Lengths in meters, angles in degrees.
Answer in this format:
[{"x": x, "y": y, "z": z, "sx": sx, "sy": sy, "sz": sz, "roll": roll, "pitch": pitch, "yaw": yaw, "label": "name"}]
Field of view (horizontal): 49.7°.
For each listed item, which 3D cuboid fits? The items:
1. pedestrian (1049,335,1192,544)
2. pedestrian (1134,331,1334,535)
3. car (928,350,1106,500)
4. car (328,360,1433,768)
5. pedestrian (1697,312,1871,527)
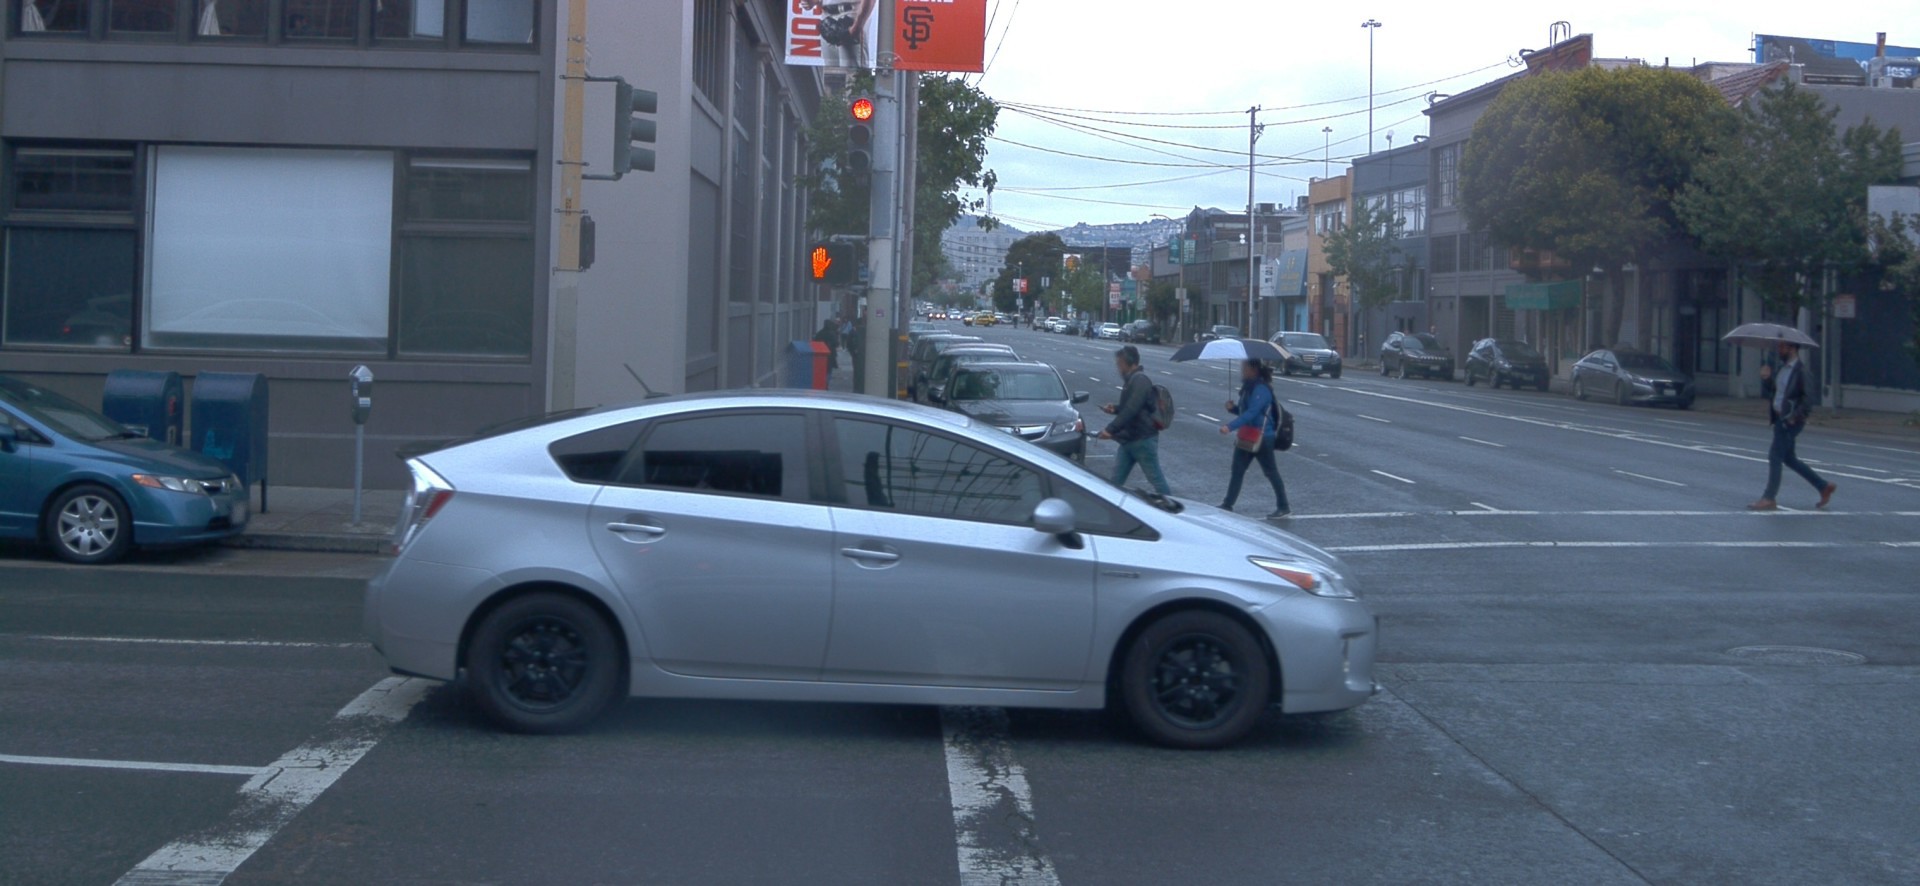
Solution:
[{"x": 1.475, "y": -0.058, "z": 19.232, "sx": 1.131, "sy": 1.819, "sz": 1.032, "roll": 0, "pitch": 2, "yaw": -7, "label": "pedestrian"}, {"x": 2.650, "y": -0.142, "z": 20.262, "sx": 1.573, "sy": 1.829, "sz": 1.364, "roll": 0, "pitch": 2, "yaw": -12, "label": "pedestrian"}, {"x": 0.621, "y": -0.306, "z": 26.065, "sx": 2.020, "sy": 1.454, "sz": 4.437, "roll": 0, "pitch": 5, "yaw": -1, "label": "car"}, {"x": -0.344, "y": 0.455, "z": 9.652, "sx": 4.613, "sy": 1.557, "sz": 1.968, "roll": 0, "pitch": 4, "yaw": -3, "label": "car"}, {"x": 8.394, "y": -0.269, "z": 21.193, "sx": 1.284, "sy": 2.082, "sz": 1.185, "roll": 0, "pitch": 1, "yaw": -2, "label": "pedestrian"}]
